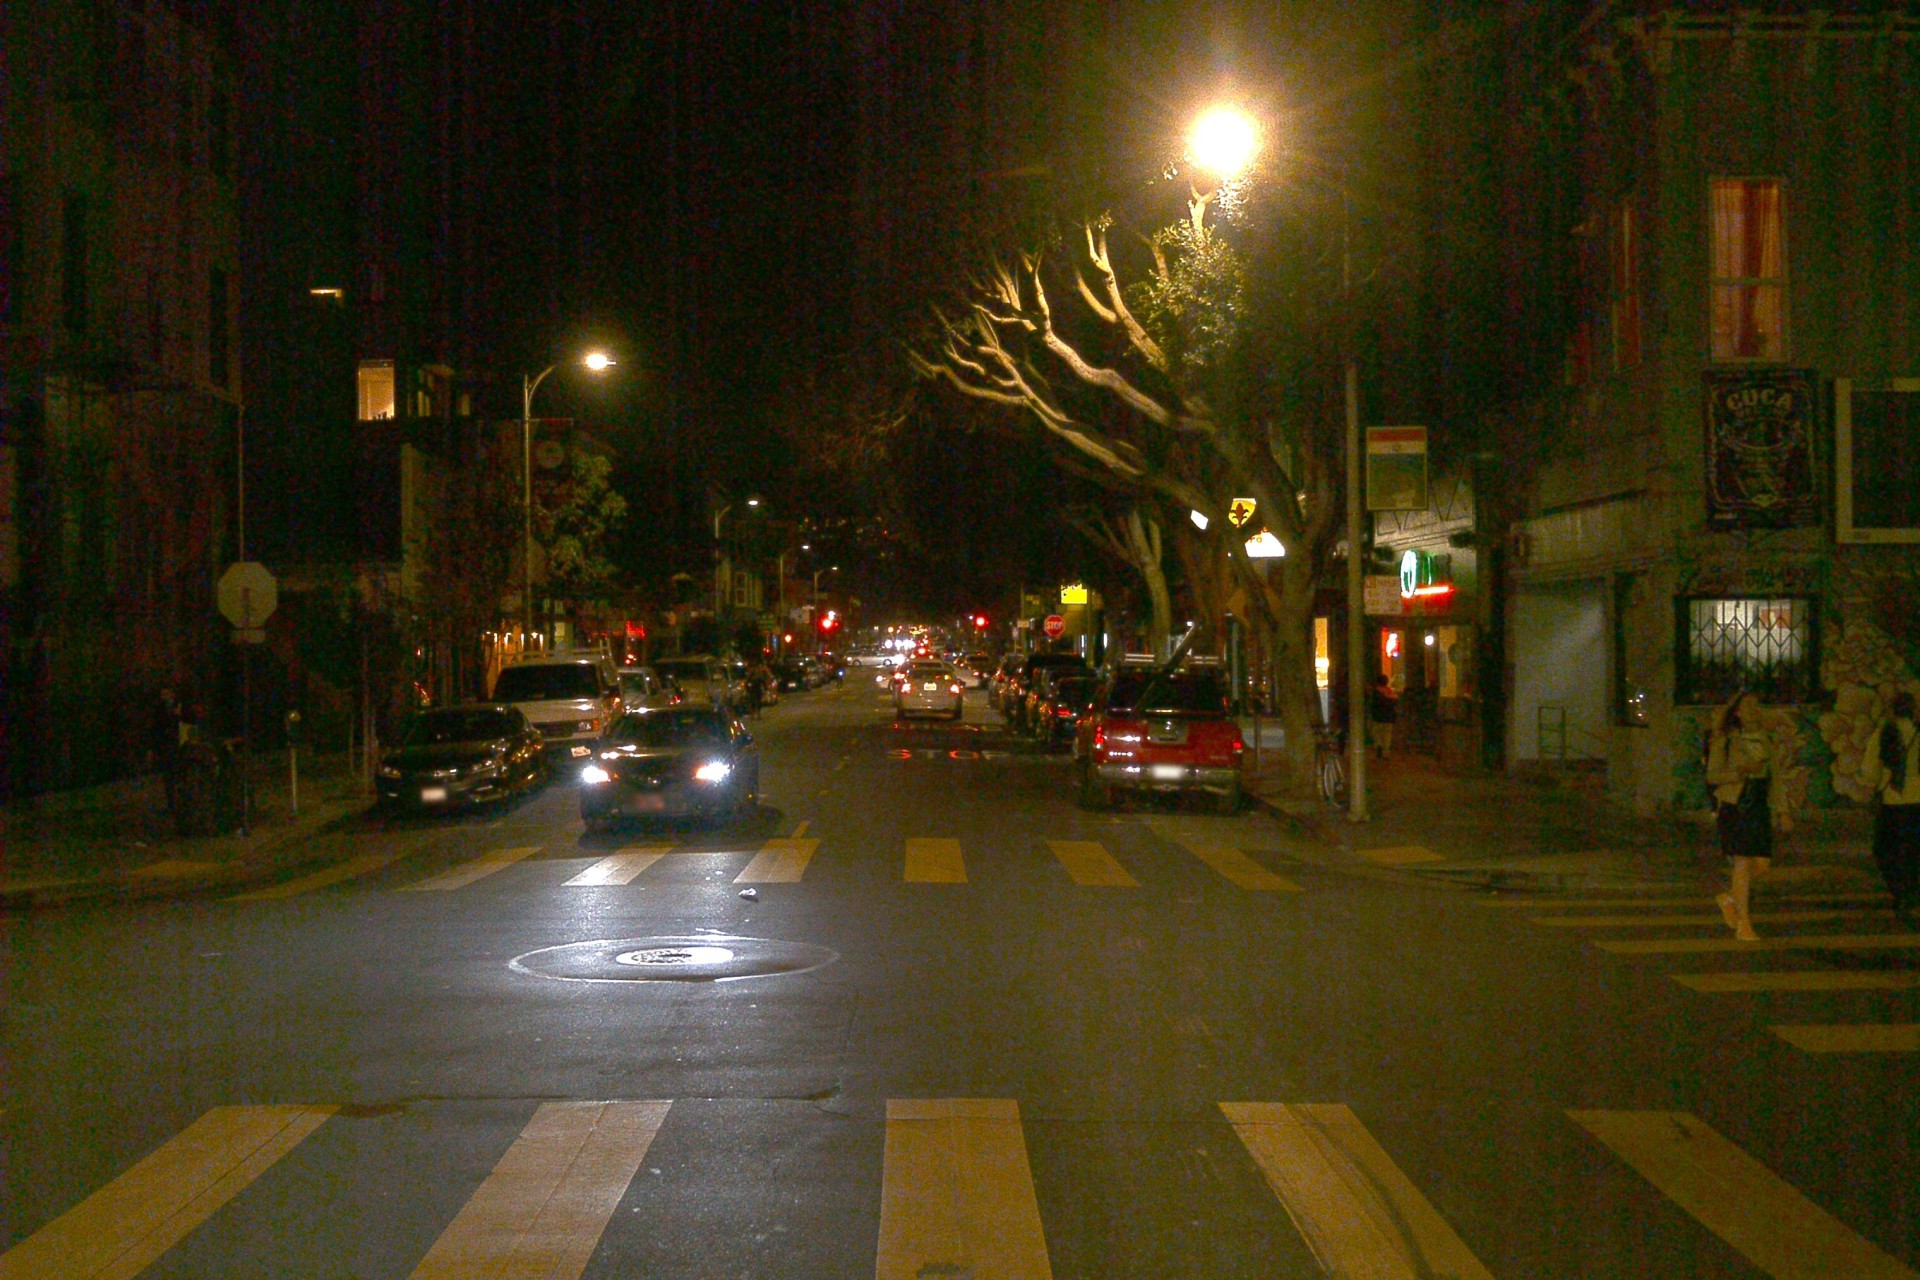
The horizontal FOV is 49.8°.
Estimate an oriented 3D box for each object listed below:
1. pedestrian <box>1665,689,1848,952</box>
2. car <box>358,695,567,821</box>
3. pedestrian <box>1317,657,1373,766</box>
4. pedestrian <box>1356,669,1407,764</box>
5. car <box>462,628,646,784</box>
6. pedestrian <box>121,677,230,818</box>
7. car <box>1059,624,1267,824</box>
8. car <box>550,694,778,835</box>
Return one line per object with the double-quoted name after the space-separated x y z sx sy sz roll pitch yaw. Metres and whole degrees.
5.480 1.211 14.298 0.756 1.721 1.131 0 0 -3 "pedestrian"
-7.128 1.643 30.174 2.111 1.570 4.965 0 0 -3 "car"
6.272 1.151 33.735 0.722 1.730 0.999 0 0 1 "pedestrian"
6.864 1.231 33.722 0.682 1.520 0.703 0 0 2 "pedestrian"
-7.095 1.104 36.776 2.537 2.560 5.516 0 0 -4 "car"
-10.207 1.381 26.963 1.010 1.780 1.074 0 0 2 "pedestrian"
2.776 1.082 29.444 2.609 2.510 6.384 0 0 4 "car"
-3.647 1.504 26.437 2.245 1.520 4.894 0 0 0 "car"
